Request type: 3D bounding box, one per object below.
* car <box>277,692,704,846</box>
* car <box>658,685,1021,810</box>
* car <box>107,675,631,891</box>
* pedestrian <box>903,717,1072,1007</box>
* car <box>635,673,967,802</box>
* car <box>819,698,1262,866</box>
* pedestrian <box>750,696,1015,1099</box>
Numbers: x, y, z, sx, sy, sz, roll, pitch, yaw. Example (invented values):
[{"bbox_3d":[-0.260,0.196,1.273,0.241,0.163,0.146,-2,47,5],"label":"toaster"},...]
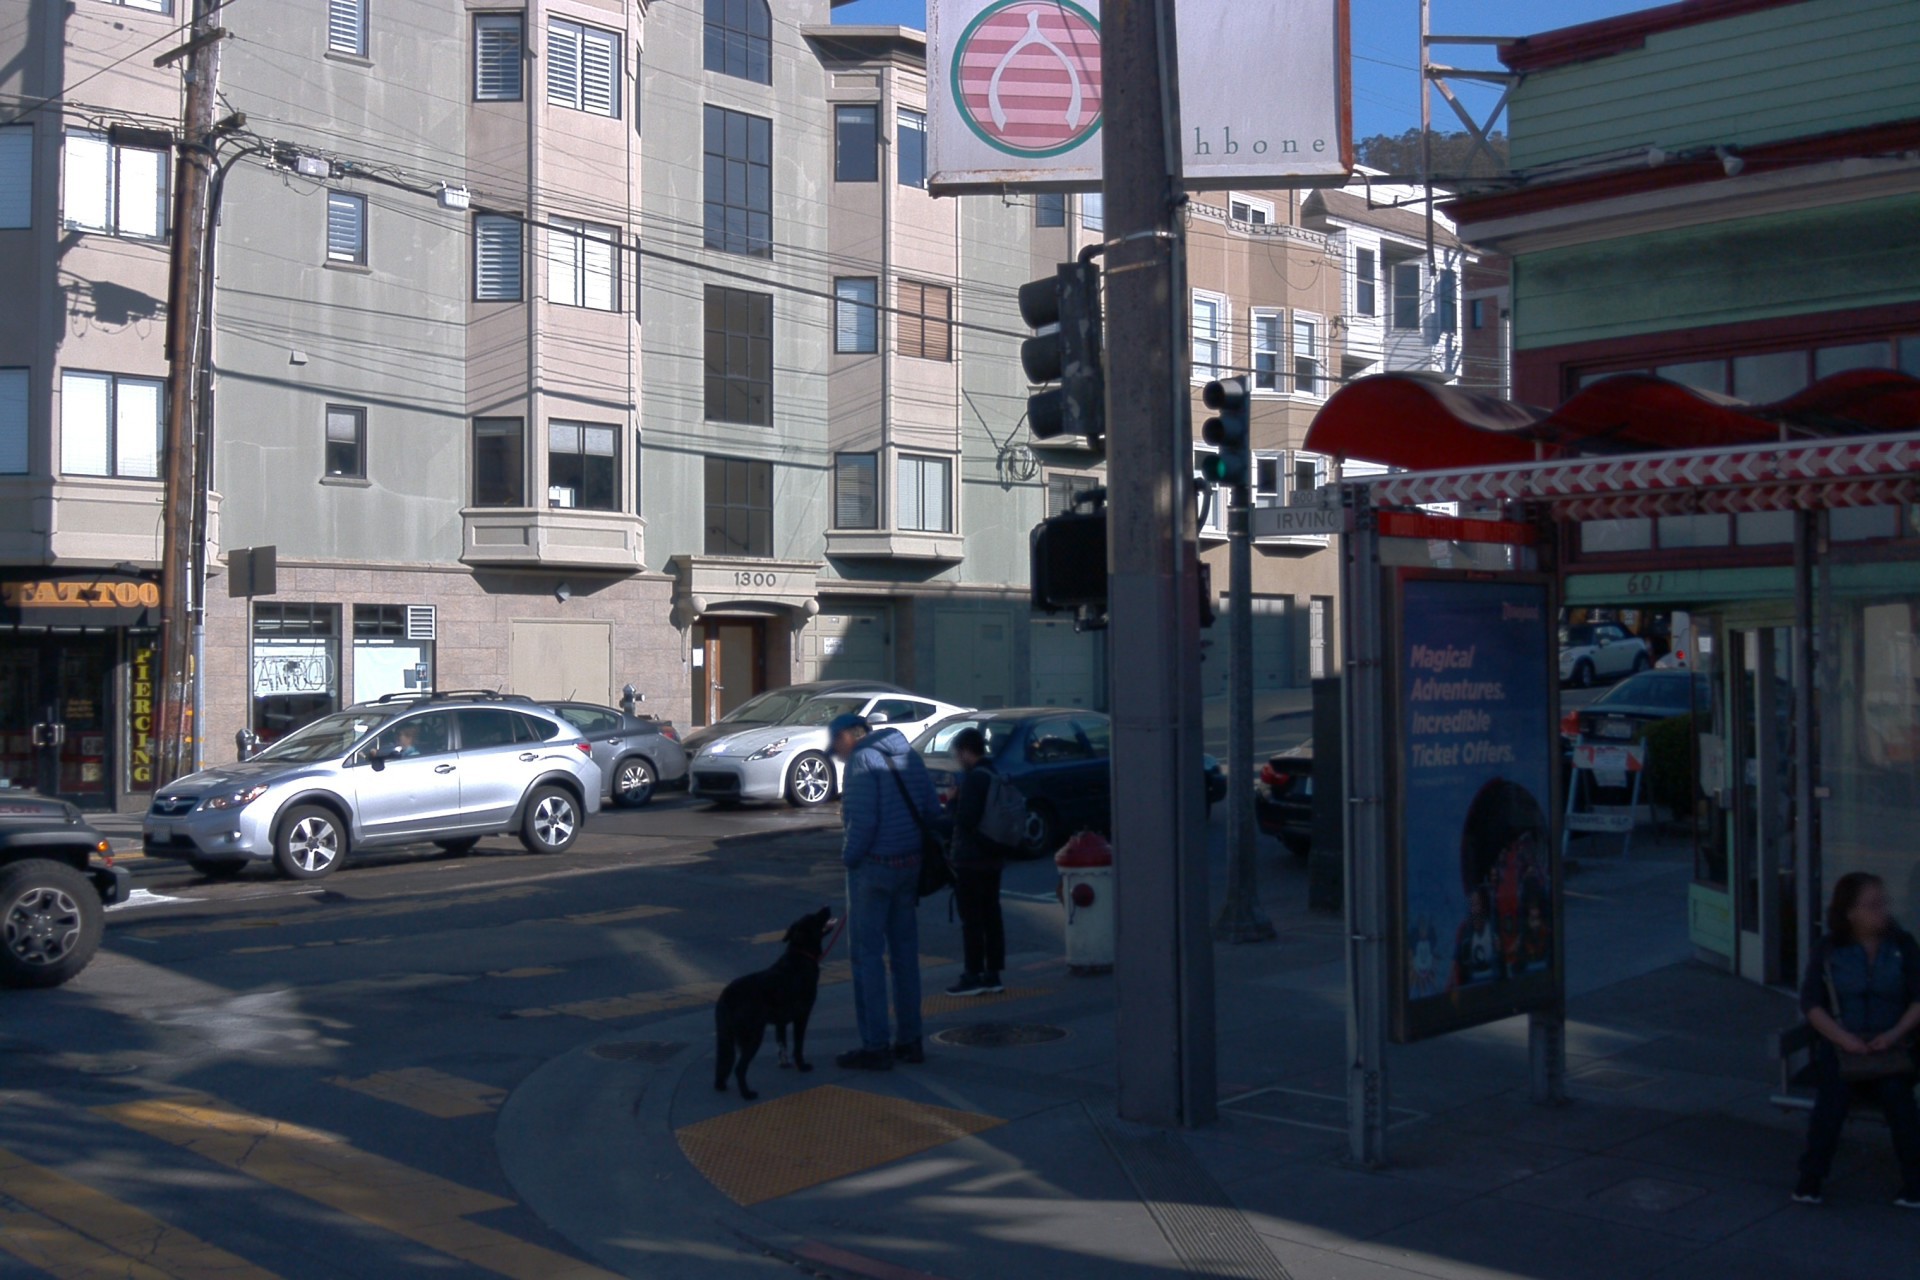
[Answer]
[{"bbox_3d":[-5.778,1.529,26.271,2.149,1.660,4.833,0,0,44],"label":"car"},{"bbox_3d":[-1.471,1.298,26.496,4.248,1.390,2.004,1,0,-42],"label":"car"},{"bbox_3d":[-5.496,1.244,19.940,1.930,1.770,4.447,0,0,42],"label":"car"},{"bbox_3d":[0.167,1.348,13.044,0.687,1.700,0.778,0,0,-43],"label":"pedestrian"},{"bbox_3d":[-2.217,1.334,30.143,2.102,1.670,4.524,0,0,43],"label":"car"},{"bbox_3d":[0.899,1.308,20.616,1.876,1.380,4.494,0,0,43],"label":"car"},{"bbox_3d":[-0.383,1.223,10.469,0.894,1.860,0.955,1,0,43],"label":"pedestrian"}]
